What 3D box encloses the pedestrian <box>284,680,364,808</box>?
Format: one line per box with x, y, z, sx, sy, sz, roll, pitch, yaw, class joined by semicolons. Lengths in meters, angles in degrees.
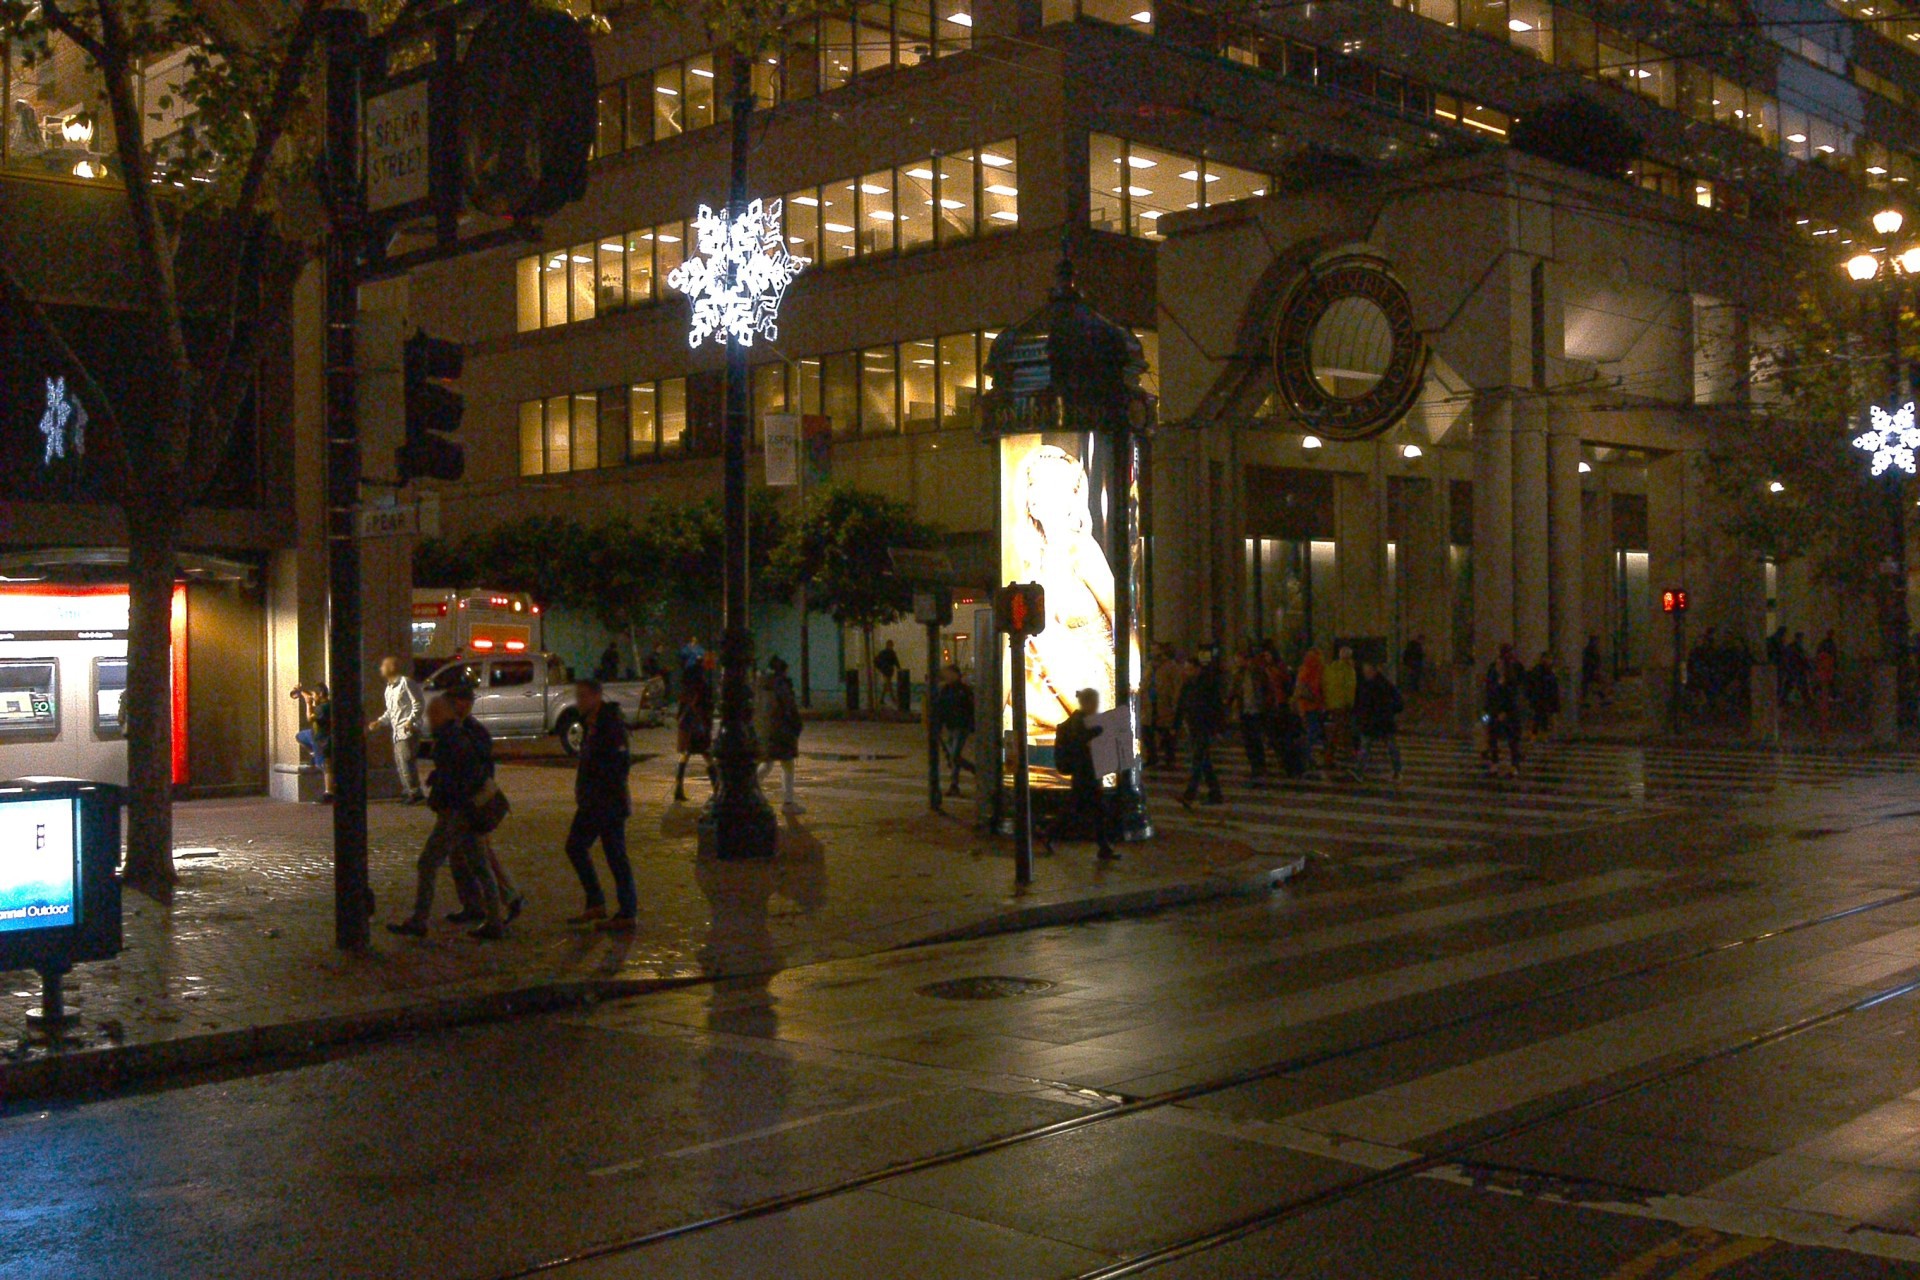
-7.000;1.136;22.620;0.636;1.350;0.644;-1;1;-40;pedestrian

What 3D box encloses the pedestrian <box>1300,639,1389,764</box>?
5.677;0.887;30.333;1.045;1.780;0.780;-1;1;-35;pedestrian

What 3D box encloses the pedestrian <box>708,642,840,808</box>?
-2.027;0.896;22.369;1.120;1.720;0.908;-1;1;-39;pedestrian

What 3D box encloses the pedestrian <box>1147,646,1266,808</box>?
2.929;1.006;24.416;1.161;1.850;0.837;-1;1;-40;pedestrian

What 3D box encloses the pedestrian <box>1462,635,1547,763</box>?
8.253;0.879;31.145;1.066;1.880;0.763;-1;1;-41;pedestrian

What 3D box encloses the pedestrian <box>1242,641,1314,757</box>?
5.124;0.935;33.114;0.842;1.820;0.812;1;1;42;pedestrian

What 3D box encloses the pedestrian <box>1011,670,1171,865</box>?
1.213;1.139;18.881;1.048;1.670;1.134;1;1;31;pedestrian

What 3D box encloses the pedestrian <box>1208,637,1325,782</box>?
4.198;0.930;28.142;1.416;1.920;0.743;0;1;-23;pedestrian

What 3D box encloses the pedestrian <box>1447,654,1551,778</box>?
7.333;1.012;27.960;1.084;1.620;0.886;-1;1;-39;pedestrian

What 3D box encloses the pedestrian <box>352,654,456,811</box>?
-6.128;0.999;22.660;0.879;1.670;0.700;1;1;36;pedestrian

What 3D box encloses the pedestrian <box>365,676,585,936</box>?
-3.498;1.159;14.896;1.059;1.740;1.170;0;1;21;pedestrian

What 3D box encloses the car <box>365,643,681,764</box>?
-7.320;1.050;34.741;4.910;1.960;1.934;0;1;0;car

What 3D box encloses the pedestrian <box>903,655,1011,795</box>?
-0.032;1.071;26.495;0.838;1.730;1.146;1;1;42;pedestrian

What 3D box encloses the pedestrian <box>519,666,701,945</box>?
-2.516;1.150;14.806;0.783;1.890;1.021;1;1;43;pedestrian

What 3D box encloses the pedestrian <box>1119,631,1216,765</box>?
3.042;0.832;30.118;0.963;1.900;1.058;1;1;43;pedestrian

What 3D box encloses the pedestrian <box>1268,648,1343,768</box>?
5.152;0.996;30.632;0.934;1.730;0.628;-1;1;-38;pedestrian

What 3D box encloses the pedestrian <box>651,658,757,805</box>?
-3.099;1.088;24.877;0.985;1.710;0.806;-1;1;-44;pedestrian

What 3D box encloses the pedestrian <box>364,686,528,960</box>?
-3.505;1.226;14.088;1.049;1.790;0.692;0;1;-12;pedestrian

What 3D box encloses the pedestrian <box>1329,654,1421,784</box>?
5.482;1.018;27.125;1.102;1.650;0.699;-1;1;-45;pedestrian

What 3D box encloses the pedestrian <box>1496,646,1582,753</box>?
9.469;0.954;33.588;1.124;1.690;0.784;-1;1;-28;pedestrian
